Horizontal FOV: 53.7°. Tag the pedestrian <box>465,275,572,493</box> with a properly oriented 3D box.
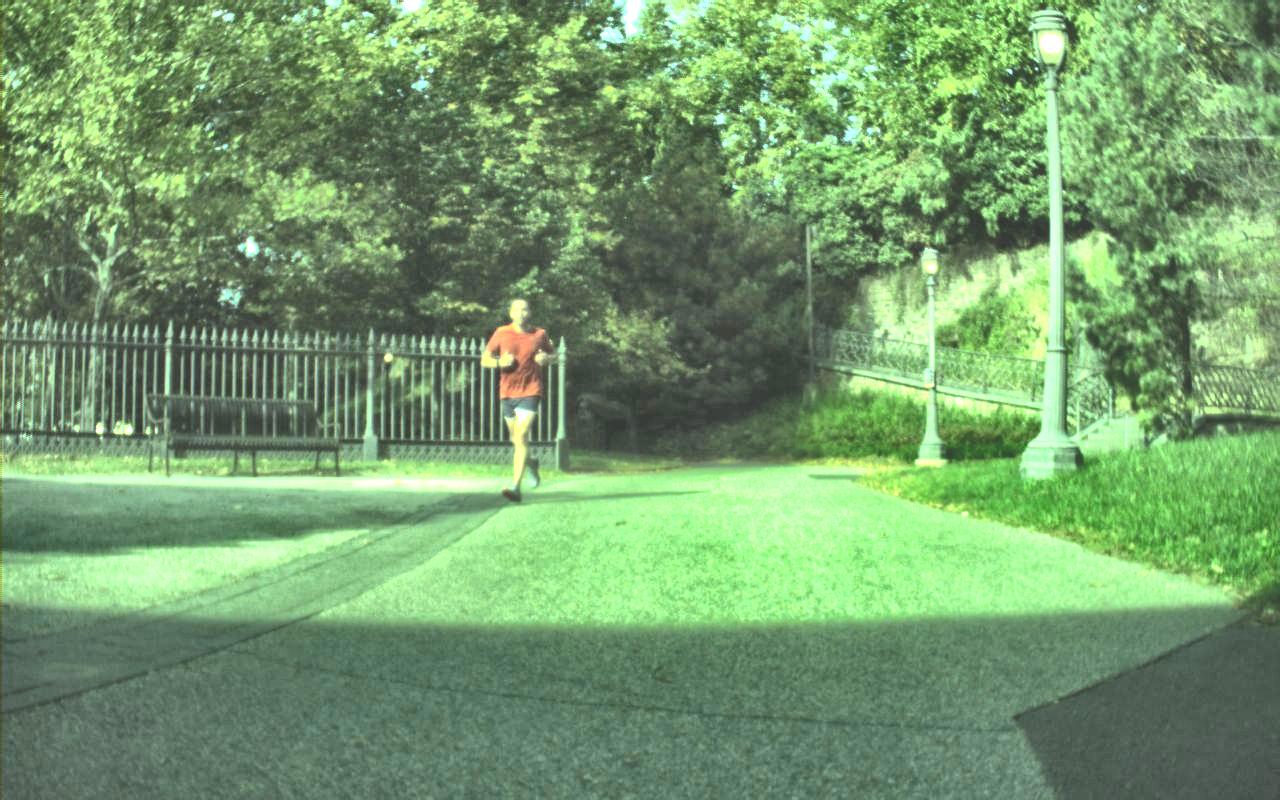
[{"bbox_3d":[-1.046,-0.144,10.969,0.813,1.816,0.930,0,0,2],"label":"pedestrian"}]

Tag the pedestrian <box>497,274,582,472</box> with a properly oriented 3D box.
[{"bbox_3d":[-0.935,-0.256,11.864,0.666,1.805,0.714,0,0,6],"label":"pedestrian"}]
